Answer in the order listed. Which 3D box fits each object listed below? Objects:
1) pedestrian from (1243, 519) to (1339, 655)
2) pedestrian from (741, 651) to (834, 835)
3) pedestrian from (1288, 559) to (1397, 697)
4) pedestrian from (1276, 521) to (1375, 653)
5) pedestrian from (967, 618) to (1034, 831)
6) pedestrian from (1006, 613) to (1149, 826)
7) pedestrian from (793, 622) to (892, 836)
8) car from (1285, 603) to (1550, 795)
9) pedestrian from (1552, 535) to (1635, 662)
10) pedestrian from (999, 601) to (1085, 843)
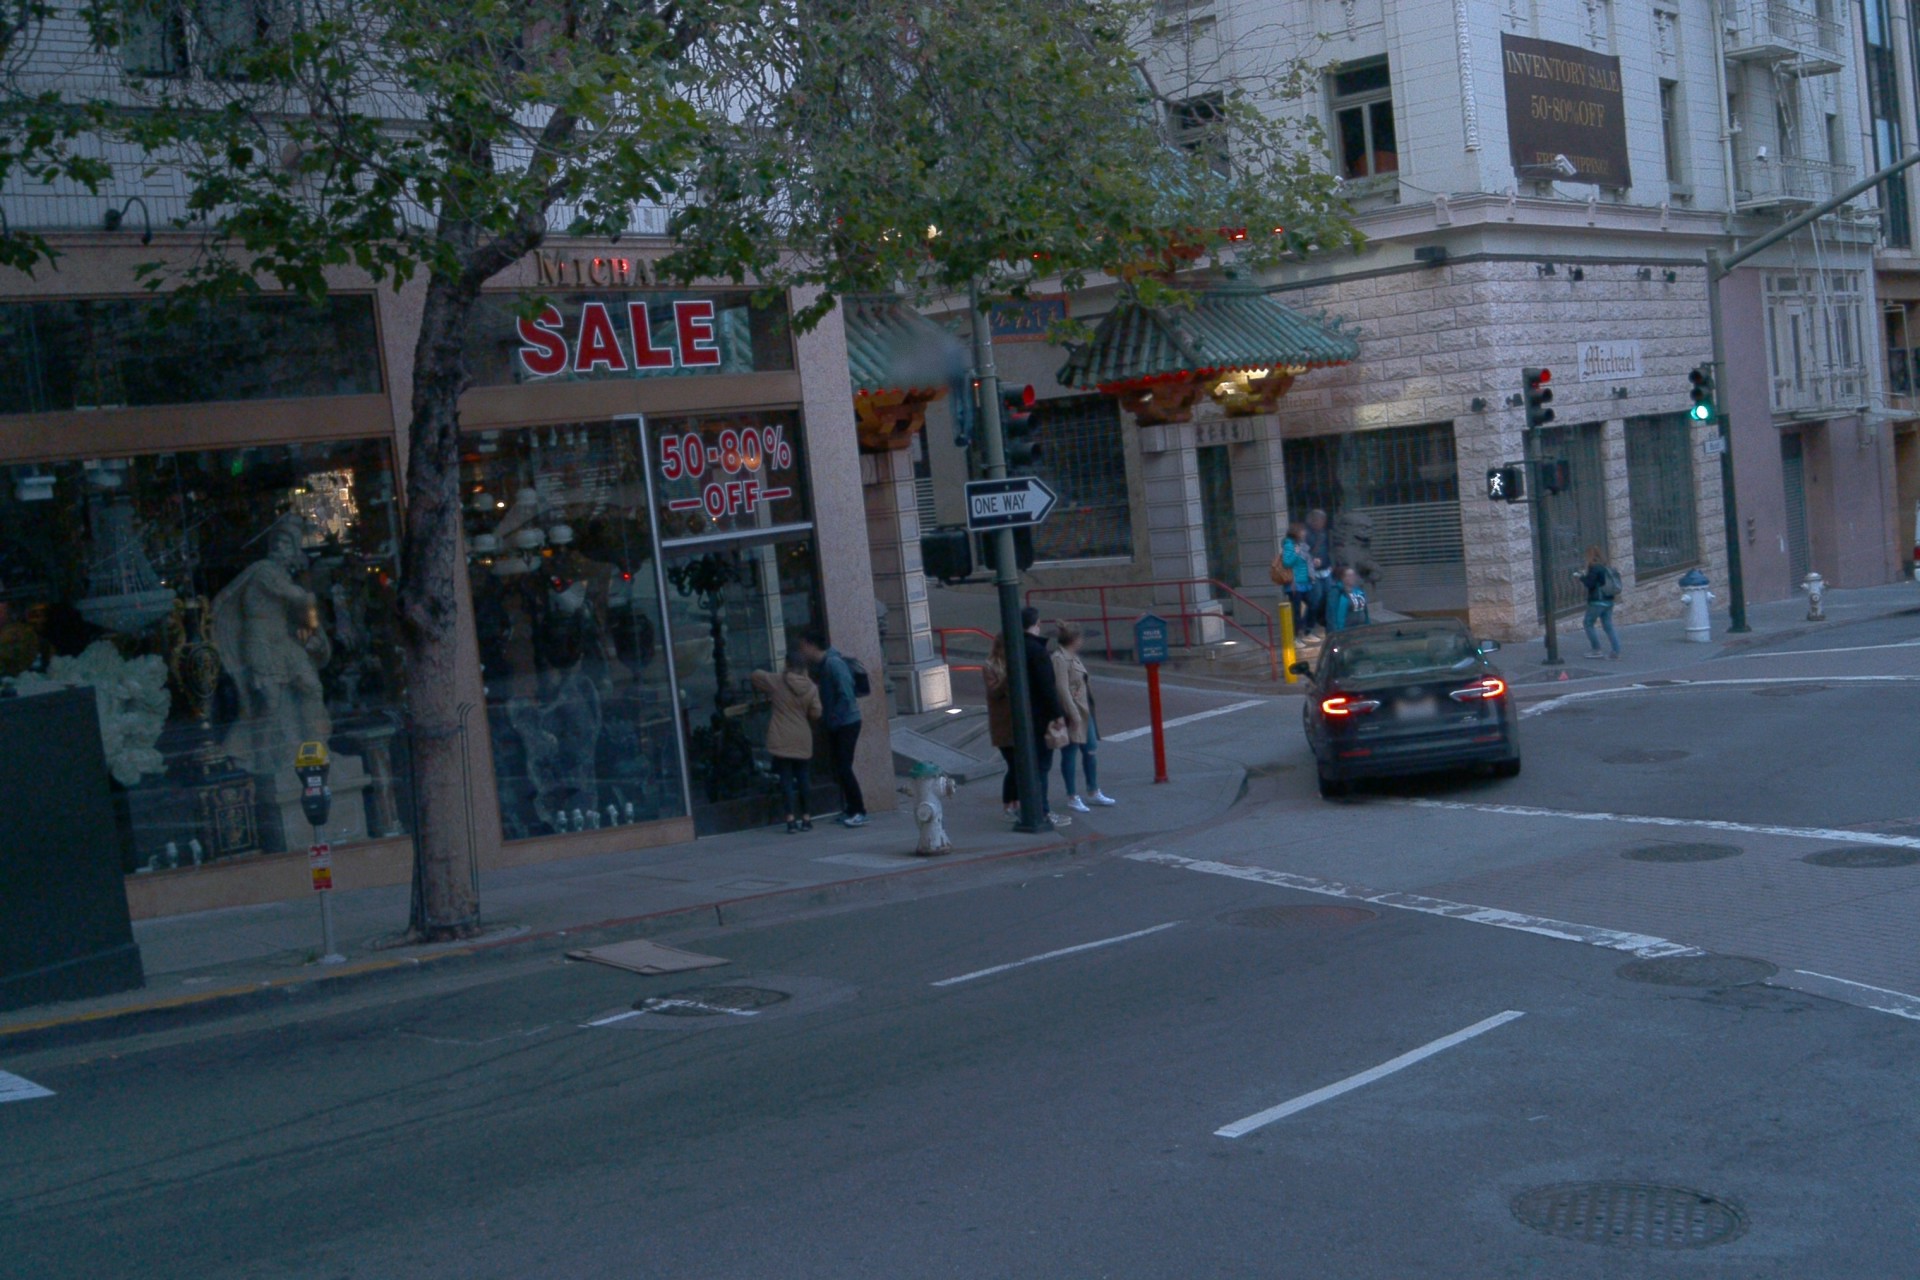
[{"bbox_3d":[4.587,-0.726,28.614,0.927,1.850,0.934,-1,1,-42],"label":"pedestrian"},{"bbox_3d":[-1.518,0.896,18.278,0.789,1.580,0.743,0,1,-3],"label":"pedestrian"},{"bbox_3d":[4.885,-0.156,26.363,0.976,1.710,0.984,-1,1,-43],"label":"pedestrian"},{"bbox_3d":[5.160,-0.745,29.157,0.964,1.820,1.000,-1,1,-43],"label":"pedestrian"},{"bbox_3d":[0.369,0.747,18.581,0.532,1.880,0.636,0,1,8],"label":"pedestrian"},{"bbox_3d":[1.083,0.692,18.897,0.817,1.880,1.093,0,1,39],"label":"pedestrian"},{"bbox_3d":[-1.067,0.781,18.632,0.723,1.880,0.717,0,1,-18],"label":"pedestrian"},{"bbox_3d":[4.294,0.476,20.086,2.148,1.640,4.662,0,1,8],"label":"car"},{"bbox_3d":[8.459,-0.548,27.558,0.818,1.660,0.754,1,1,41],"label":"pedestrian"},{"bbox_3d":[0.720,0.697,18.035,0.546,2.070,0.610,0,1,26],"label":"pedestrian"}]
